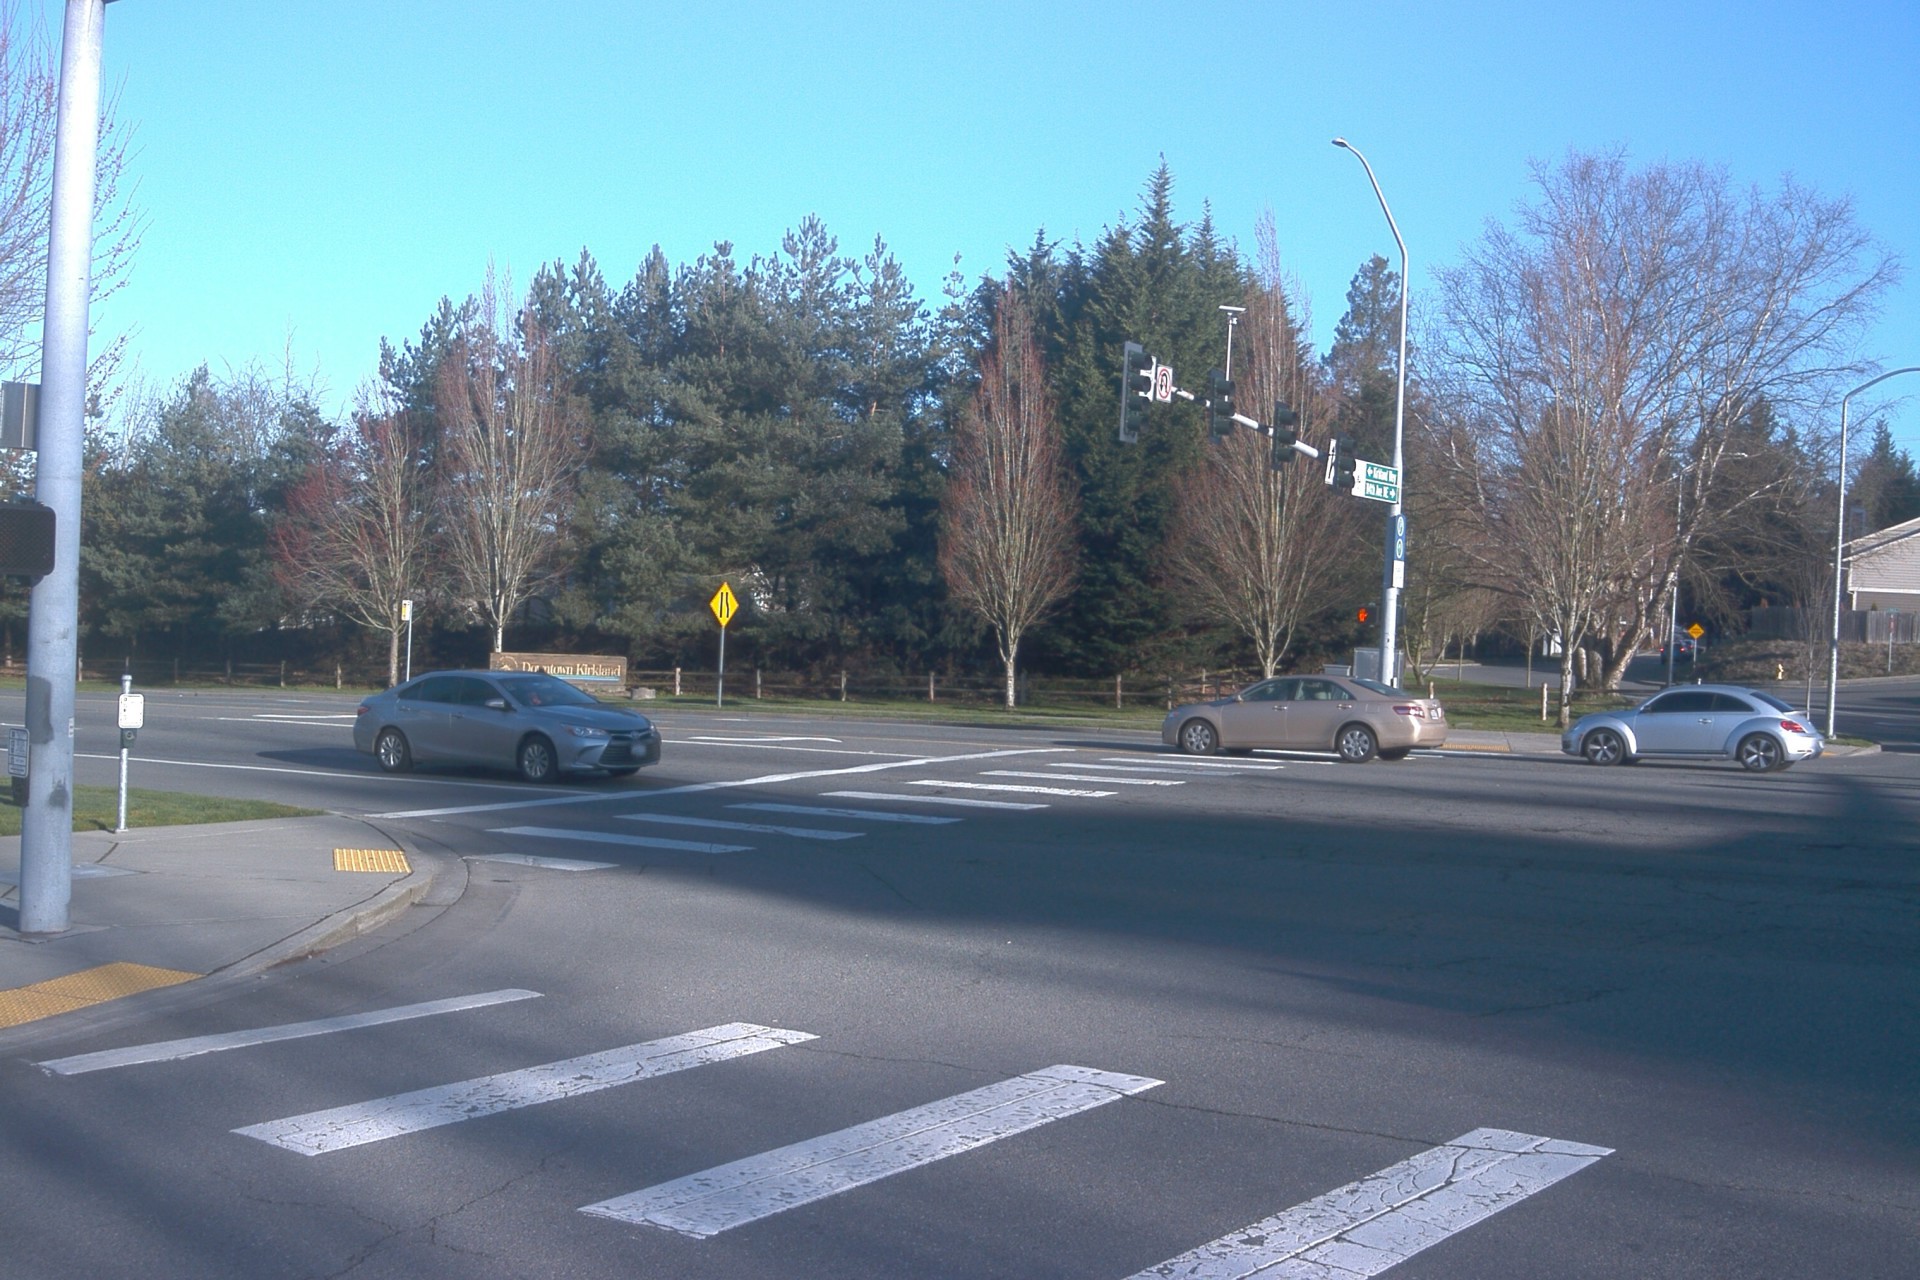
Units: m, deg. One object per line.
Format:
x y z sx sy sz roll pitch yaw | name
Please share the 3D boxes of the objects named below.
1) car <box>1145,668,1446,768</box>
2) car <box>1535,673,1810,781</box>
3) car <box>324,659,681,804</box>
5.685 1.278 35.180 4.691 1.500 1.884 1 1 32 | car
12.410 1.470 36.026 4.238 1.660 1.790 1 1 32 | car
-6.370 1.188 28.543 4.837 1.760 1.984 1 1 33 | car
